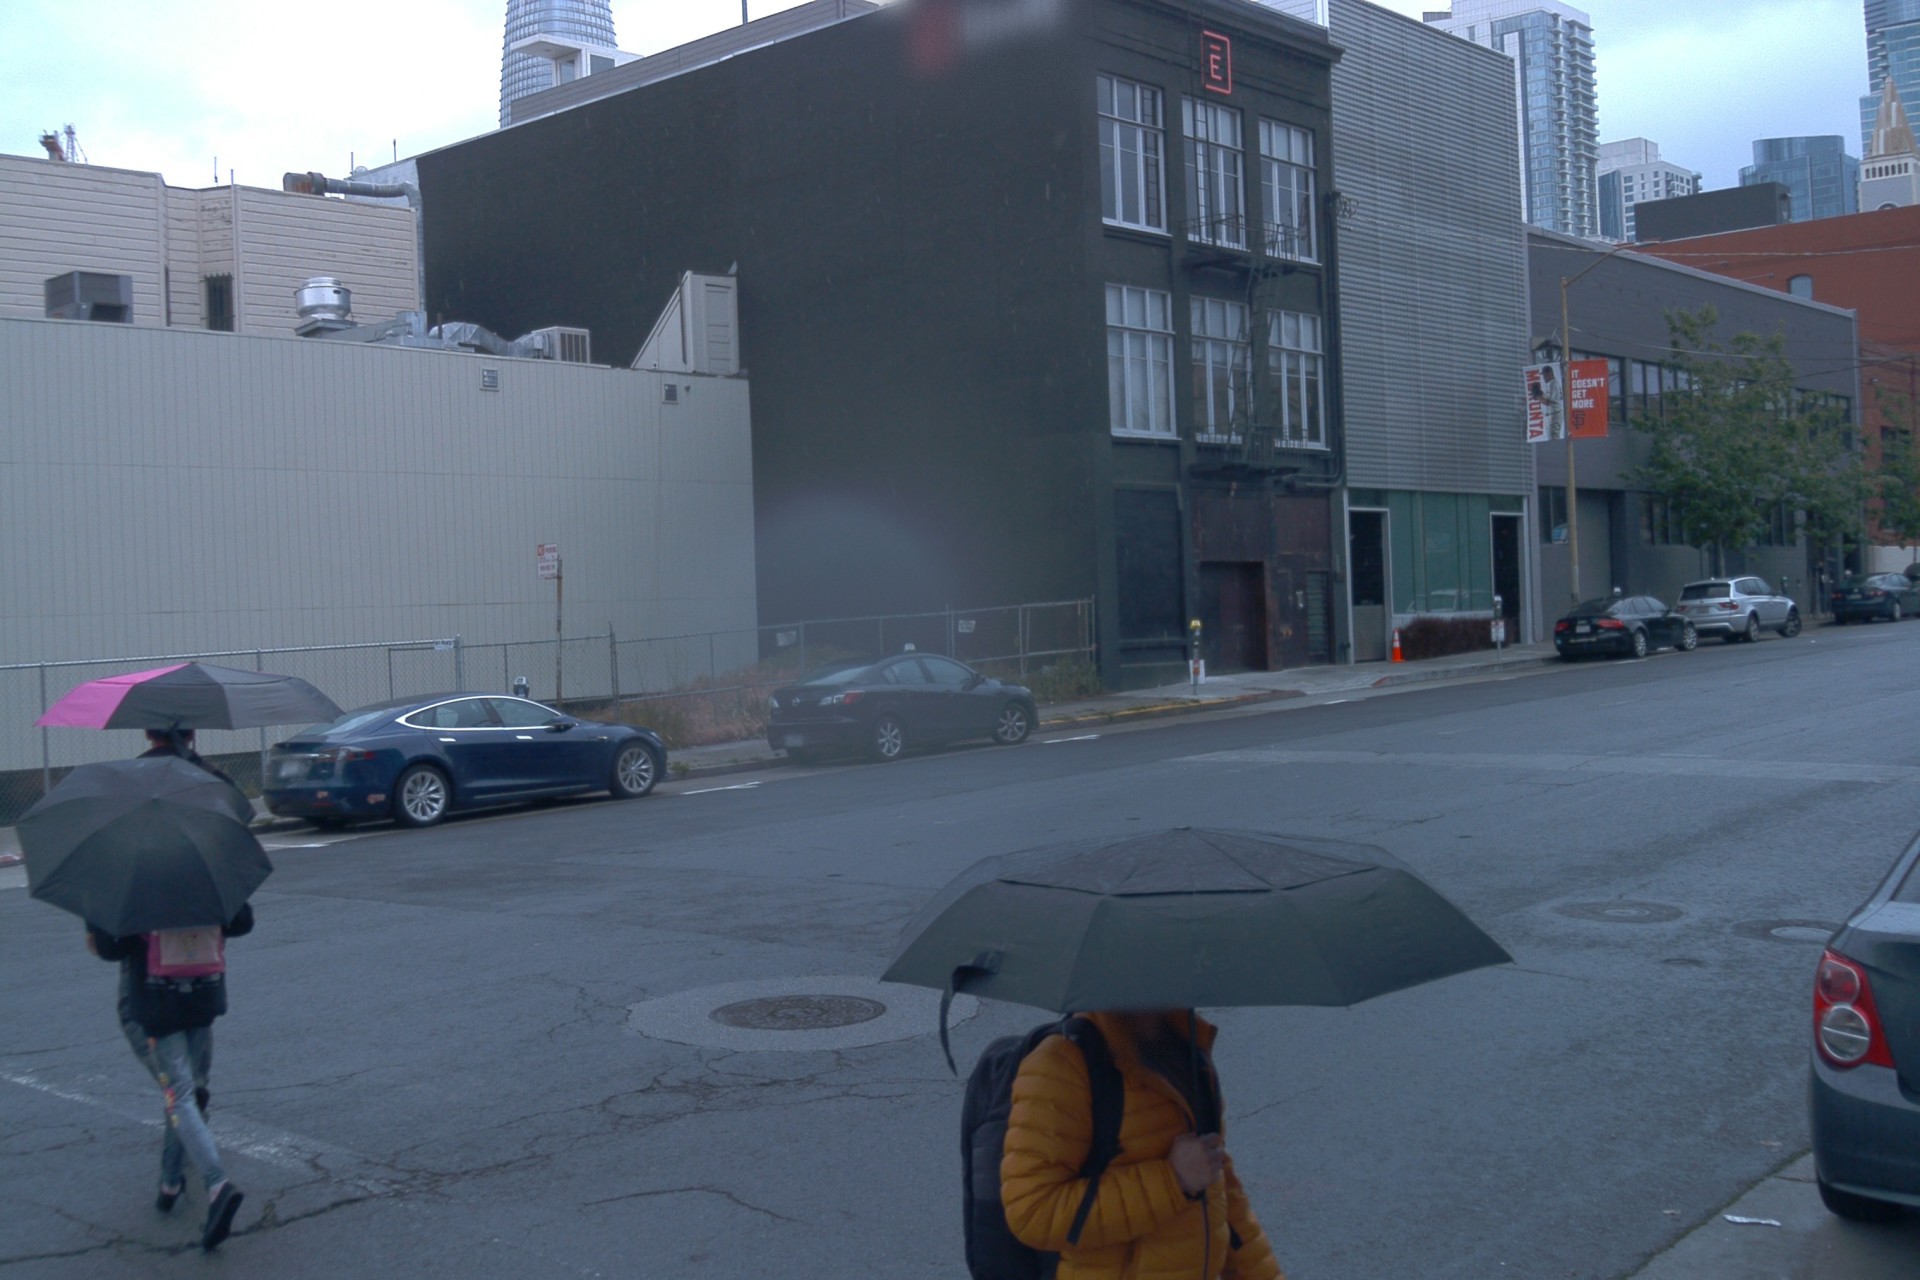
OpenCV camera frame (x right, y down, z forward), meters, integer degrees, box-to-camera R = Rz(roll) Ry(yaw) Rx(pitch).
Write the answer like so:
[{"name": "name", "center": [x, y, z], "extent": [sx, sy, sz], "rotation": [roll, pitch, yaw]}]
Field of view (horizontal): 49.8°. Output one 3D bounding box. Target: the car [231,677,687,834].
[{"name": "car", "center": [-5.570, 1.219, 23.535], "extent": [2.011, 1.550, 4.768], "rotation": [0, -1, 40]}]

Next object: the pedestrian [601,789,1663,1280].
[{"name": "pedestrian", "center": [0.341, 1.206, 3.487], "extent": [1.332, 1.790, 1.290], "rotation": [0, -1, 32]}]

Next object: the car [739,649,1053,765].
[{"name": "car", "center": [-0.823, 0.894, 29.041], "extent": [2.005, 1.500, 4.289], "rotation": [0, -1, 41]}]
